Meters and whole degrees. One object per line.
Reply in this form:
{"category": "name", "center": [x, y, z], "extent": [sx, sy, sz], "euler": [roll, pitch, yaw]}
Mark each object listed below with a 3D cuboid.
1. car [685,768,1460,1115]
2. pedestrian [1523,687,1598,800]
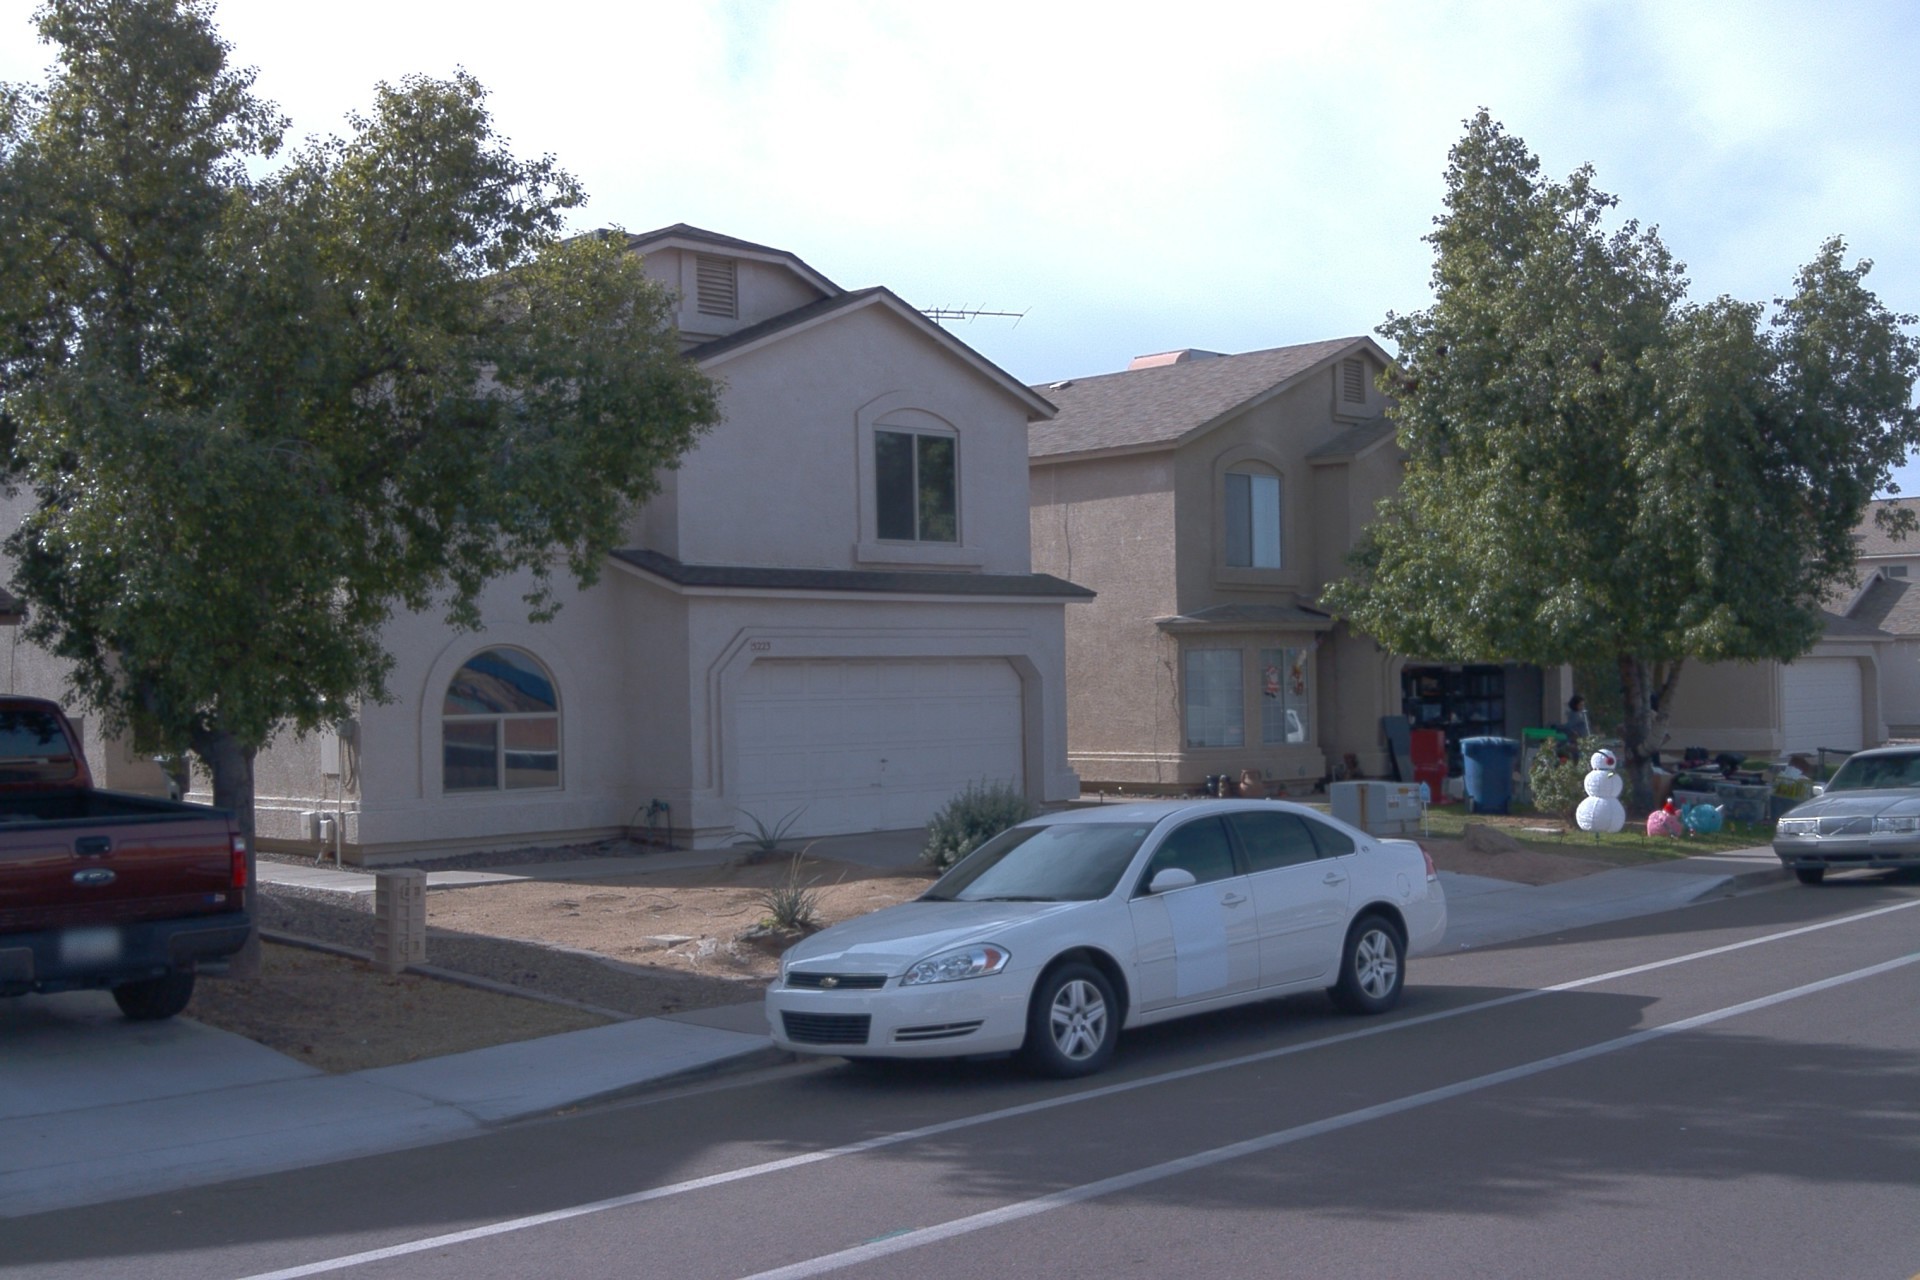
{"category": "car", "center": [0.904, 1.694, 13.188], "extent": [5.010, 1.530, 2.056], "euler": [1, -1, -45]}
{"category": "pedestrian", "center": [9.139, 1.565, 31.773], "extent": [0.869, 1.670, 0.834], "euler": [0, -1, 36]}
